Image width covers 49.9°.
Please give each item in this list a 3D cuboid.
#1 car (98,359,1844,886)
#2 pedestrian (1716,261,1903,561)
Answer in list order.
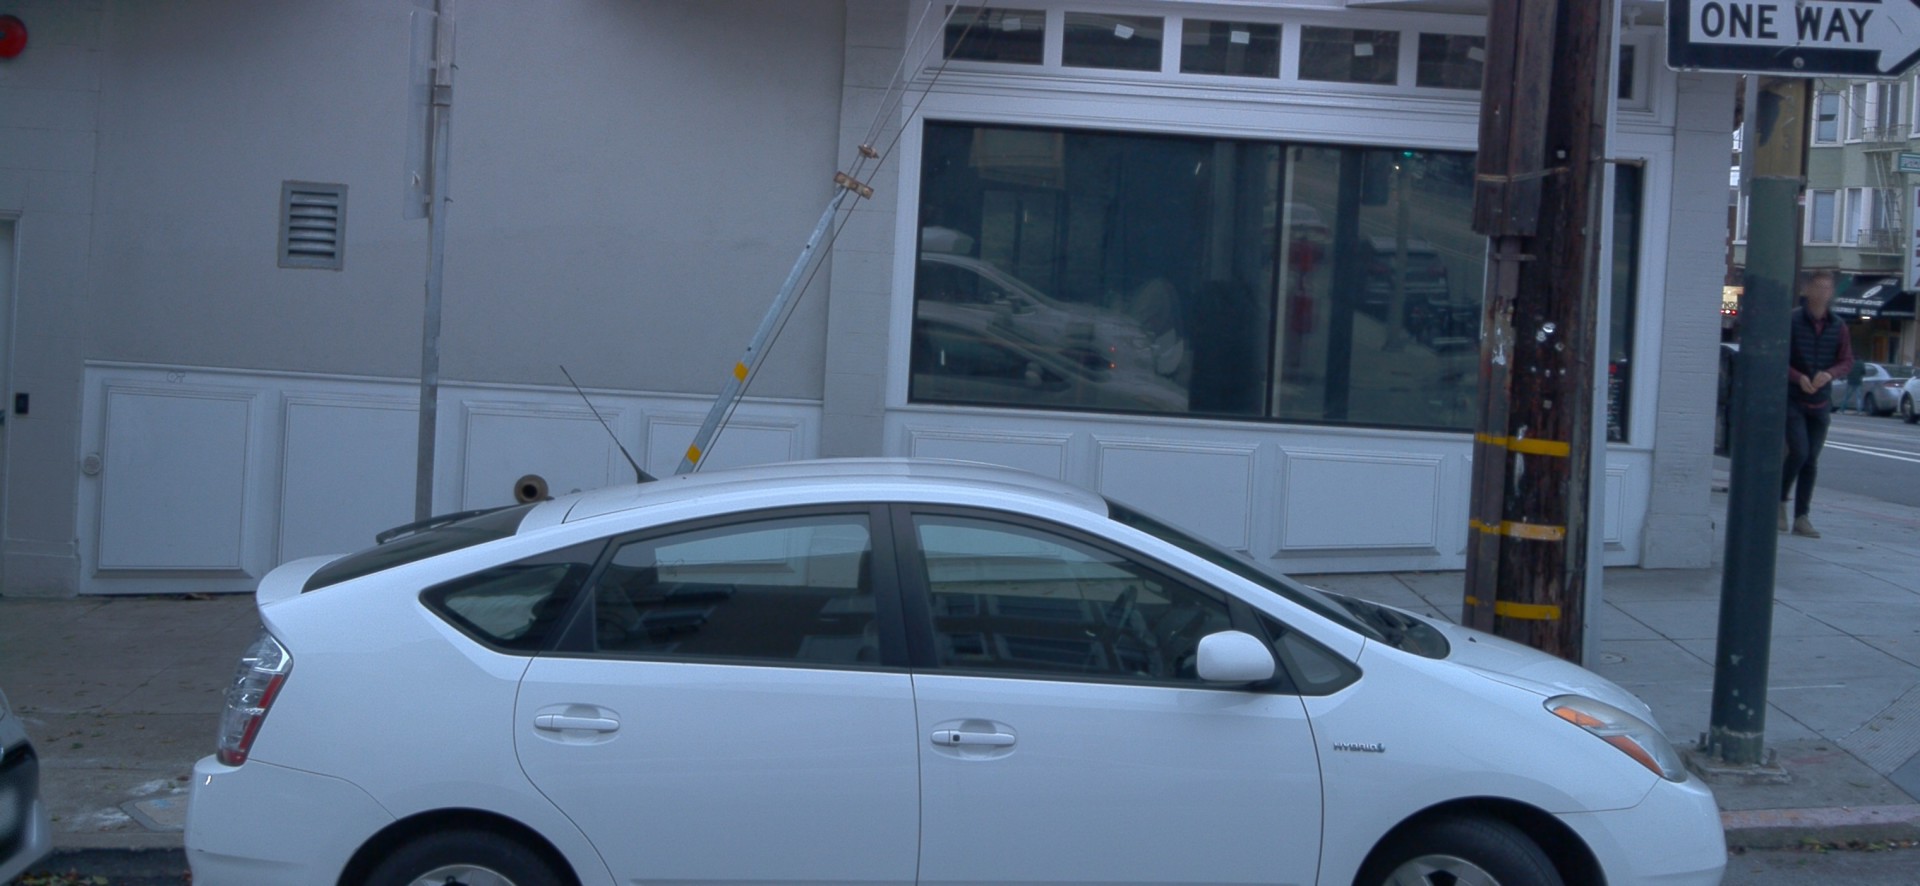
[{"bbox_3d":[0.040,0.750,6.293,4.494,1.824,1.965,-1,4,-2],"label":"car"},{"bbox_3d":[5.781,-0.265,14.106,0.800,1.918,1.274,0,3,2],"label":"pedestrian"}]
